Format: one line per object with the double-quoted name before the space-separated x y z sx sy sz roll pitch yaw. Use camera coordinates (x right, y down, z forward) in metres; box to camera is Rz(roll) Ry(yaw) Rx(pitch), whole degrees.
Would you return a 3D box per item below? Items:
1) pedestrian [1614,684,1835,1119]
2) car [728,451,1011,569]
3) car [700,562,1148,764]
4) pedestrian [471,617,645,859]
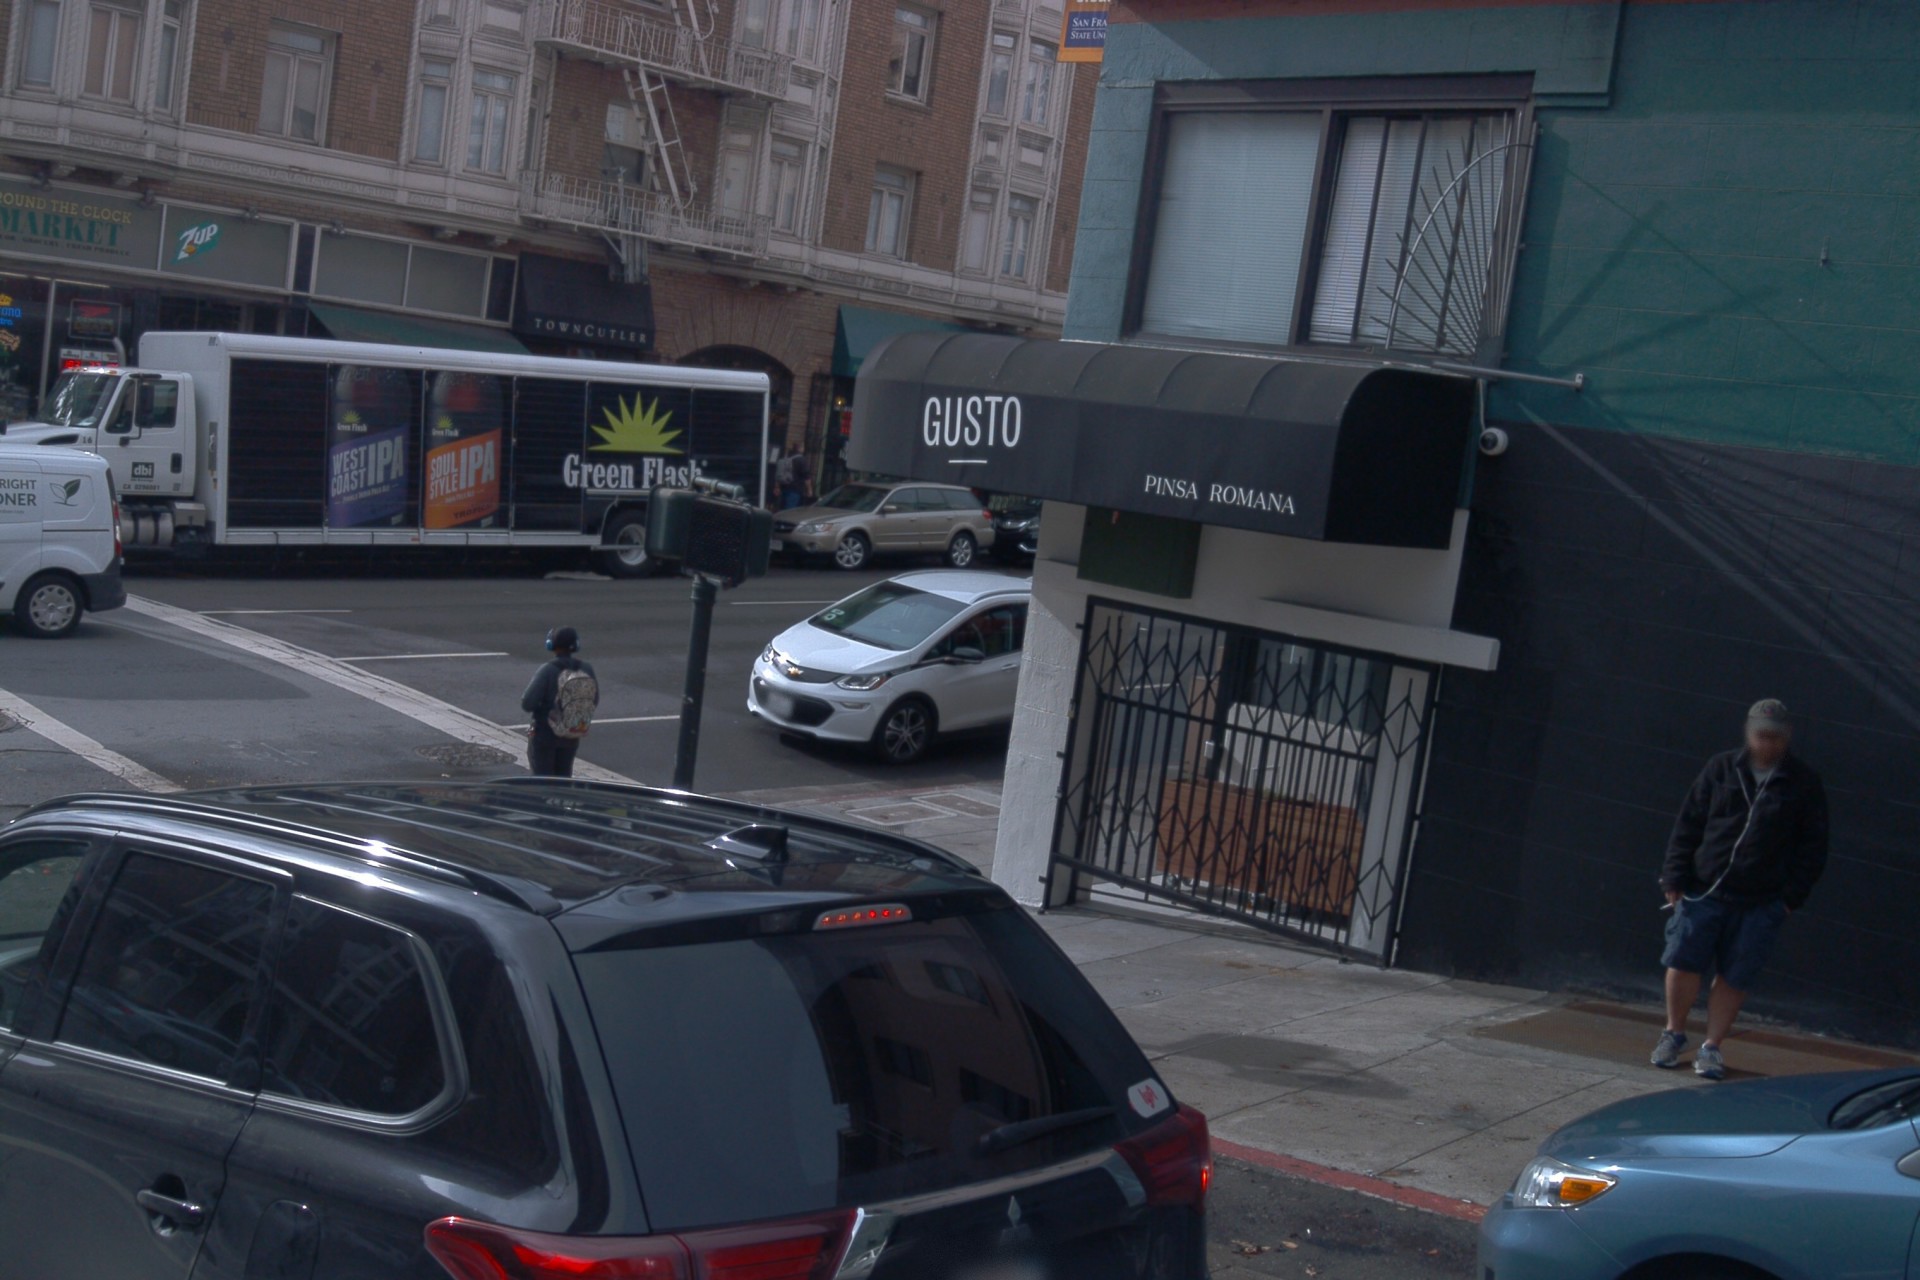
"pedestrian" 3.394 1.115 9.213 0.853 1.800 0.769 1 1 19
"car" -1.515 -2.201 36.147 2.182 1.770 4.833 2 1 42
"car" -0.260 0.191 20.435 2.062 1.780 4.279 2 1 41
"pedestrian" -2.777 0.645 14.232 0.929 1.590 0.750 2 1 43
